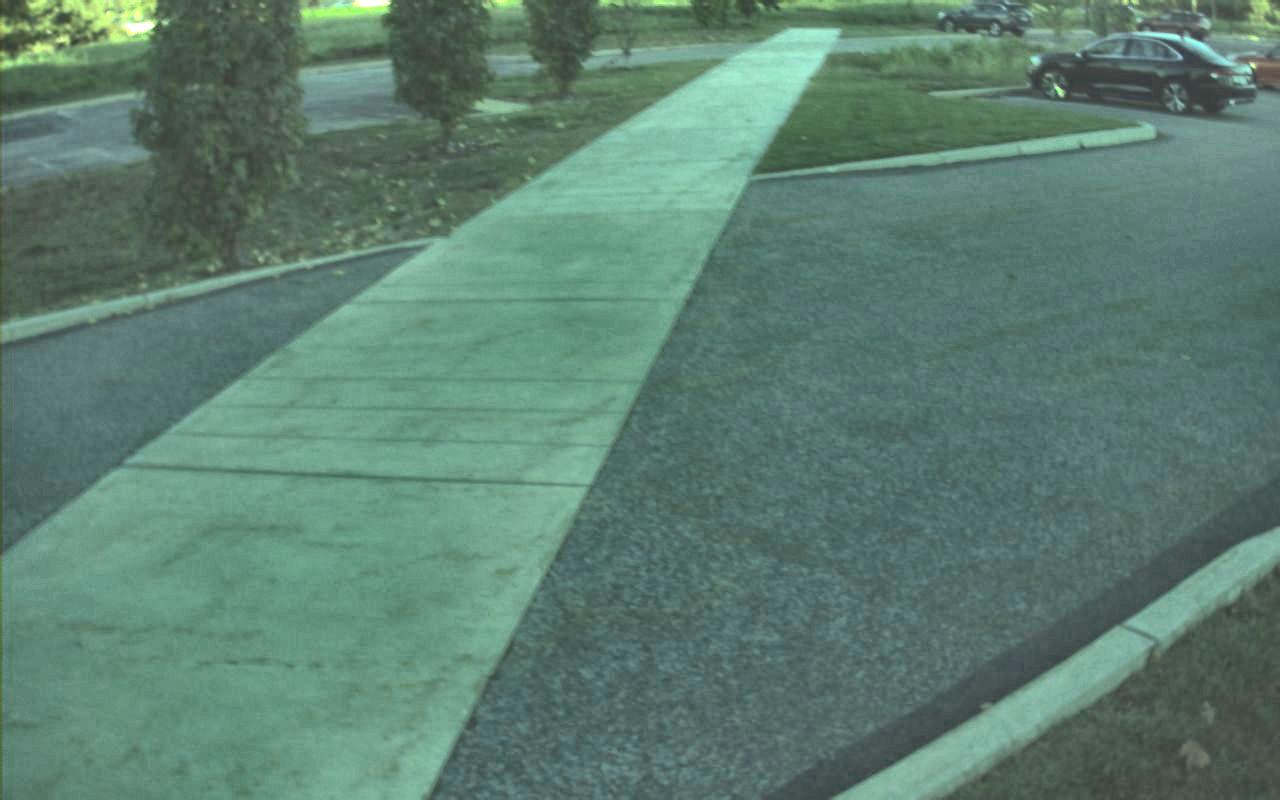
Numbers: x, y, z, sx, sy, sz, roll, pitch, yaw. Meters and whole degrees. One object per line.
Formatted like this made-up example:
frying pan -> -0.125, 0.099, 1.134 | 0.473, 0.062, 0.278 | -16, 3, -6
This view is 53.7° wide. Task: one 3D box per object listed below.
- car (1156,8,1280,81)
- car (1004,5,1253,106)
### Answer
car -> 15.995, -9.387, 29.450 | 1.947, 1.591, 4.467 | -13, 20, -36
car -> 9.282, -6.540, 21.886 | 2.007, 1.617, 4.650 | -13, 20, -37
